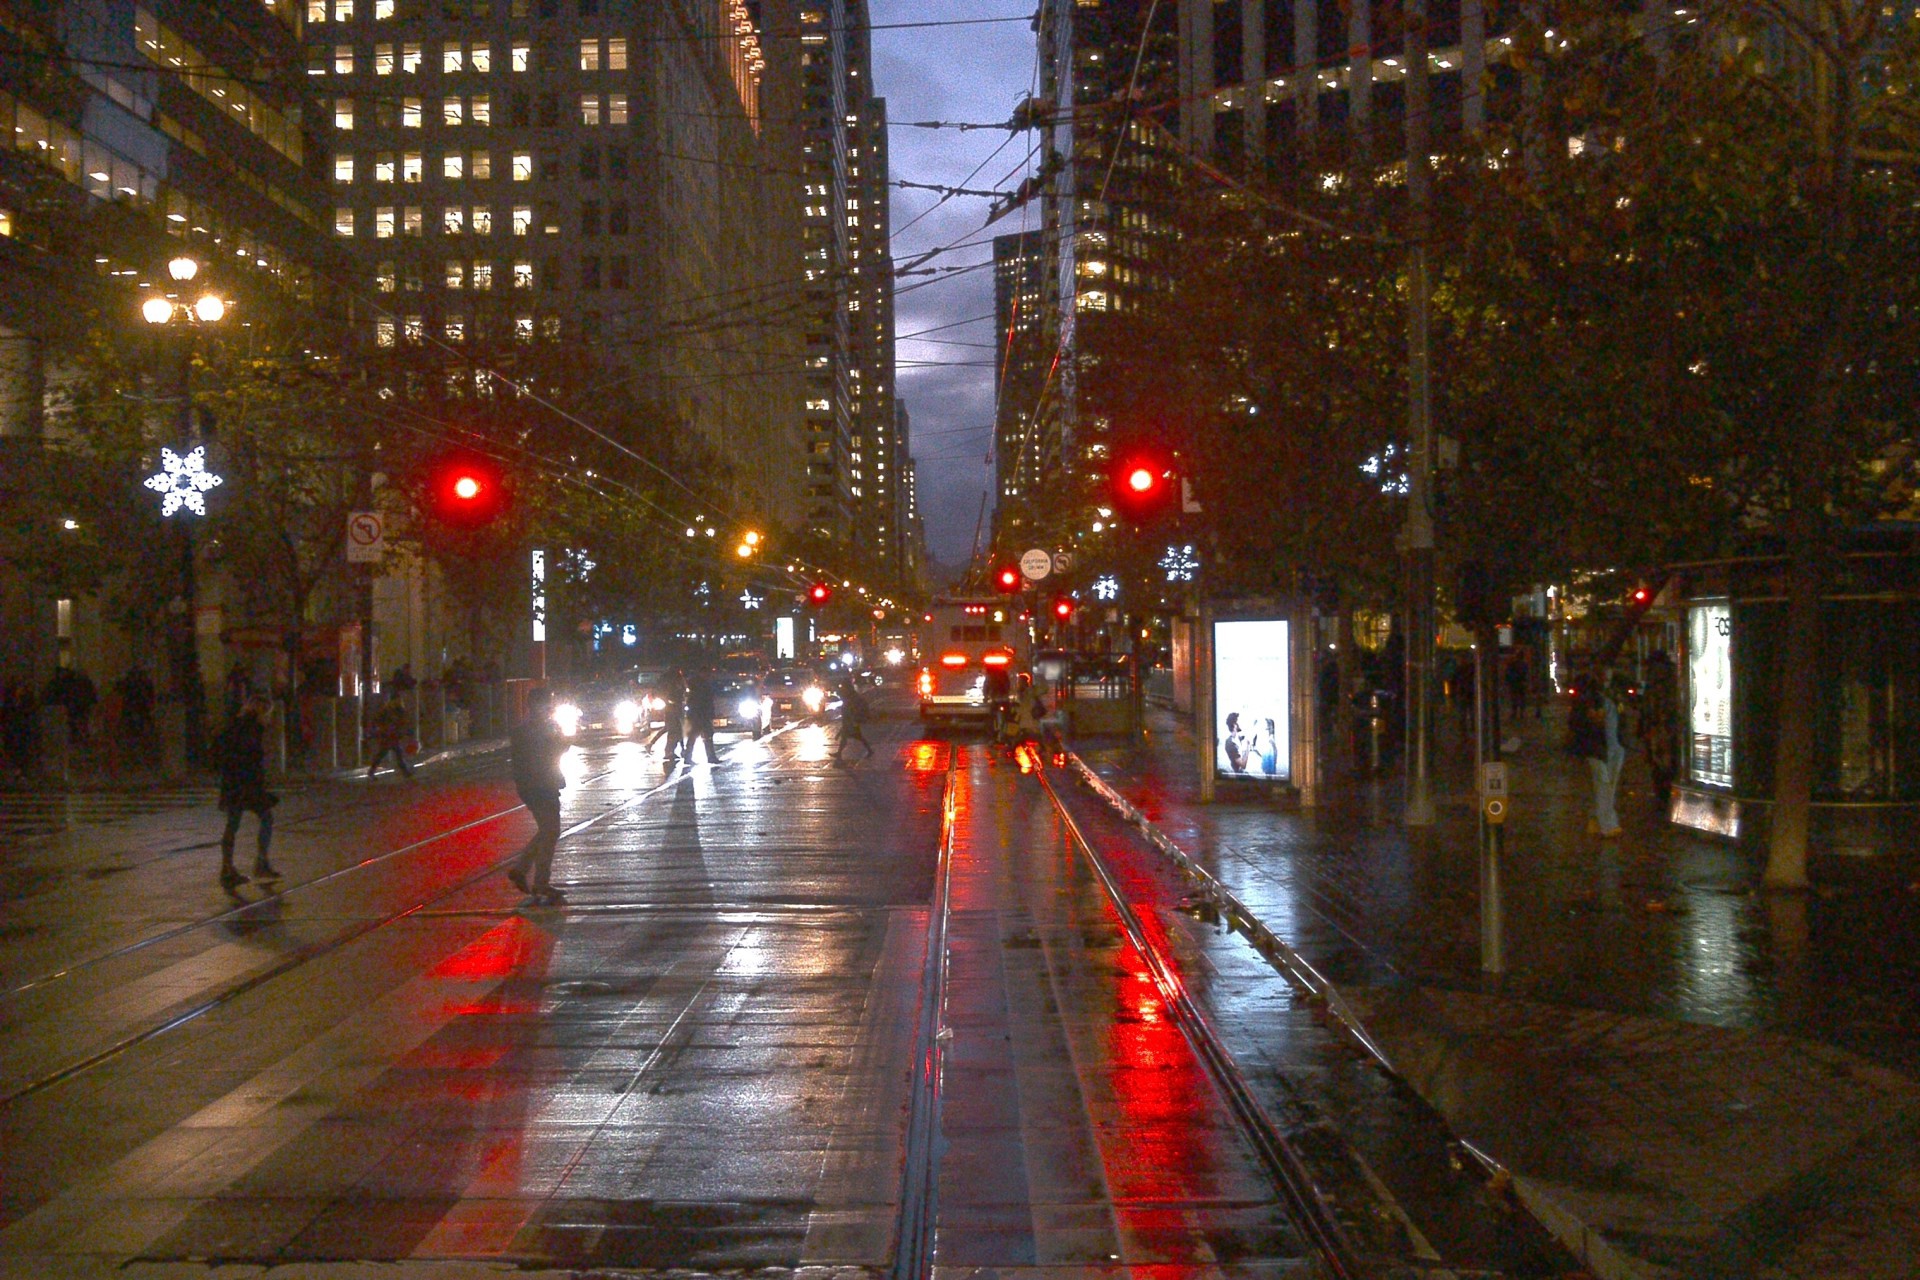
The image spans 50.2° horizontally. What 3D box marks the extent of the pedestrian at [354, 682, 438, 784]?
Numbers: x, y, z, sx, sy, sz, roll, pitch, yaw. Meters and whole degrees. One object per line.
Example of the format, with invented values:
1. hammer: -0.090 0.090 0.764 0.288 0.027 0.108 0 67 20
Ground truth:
1. pedestrian: -9.823 1.606 35.661 1.062 1.710 1.006 0 0 43

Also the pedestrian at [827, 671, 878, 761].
1. pedestrian: -1.962 1.378 37.448 0.879 1.630 0.700 0 0 1

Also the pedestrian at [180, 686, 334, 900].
1. pedestrian: -6.500 1.383 18.930 1.219 1.890 0.781 0 0 -29

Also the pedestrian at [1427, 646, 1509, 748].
1. pedestrian: 9.117 1.015 36.777 1.149 1.800 0.869 0 0 -31

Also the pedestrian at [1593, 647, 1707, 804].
1. pedestrian: 8.320 1.011 24.723 0.971 1.850 0.907 0 0 -13

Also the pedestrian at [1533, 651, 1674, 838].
1. pedestrian: 6.324 1.000 20.182 0.854 1.780 1.175 0 0 -11

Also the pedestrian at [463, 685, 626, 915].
1. pedestrian: -3.486 1.308 17.184 1.106 1.830 0.810 0 0 -36

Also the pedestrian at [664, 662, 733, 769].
1. pedestrian: -4.642 1.329 36.383 1.022 1.860 0.867 0 0 7
